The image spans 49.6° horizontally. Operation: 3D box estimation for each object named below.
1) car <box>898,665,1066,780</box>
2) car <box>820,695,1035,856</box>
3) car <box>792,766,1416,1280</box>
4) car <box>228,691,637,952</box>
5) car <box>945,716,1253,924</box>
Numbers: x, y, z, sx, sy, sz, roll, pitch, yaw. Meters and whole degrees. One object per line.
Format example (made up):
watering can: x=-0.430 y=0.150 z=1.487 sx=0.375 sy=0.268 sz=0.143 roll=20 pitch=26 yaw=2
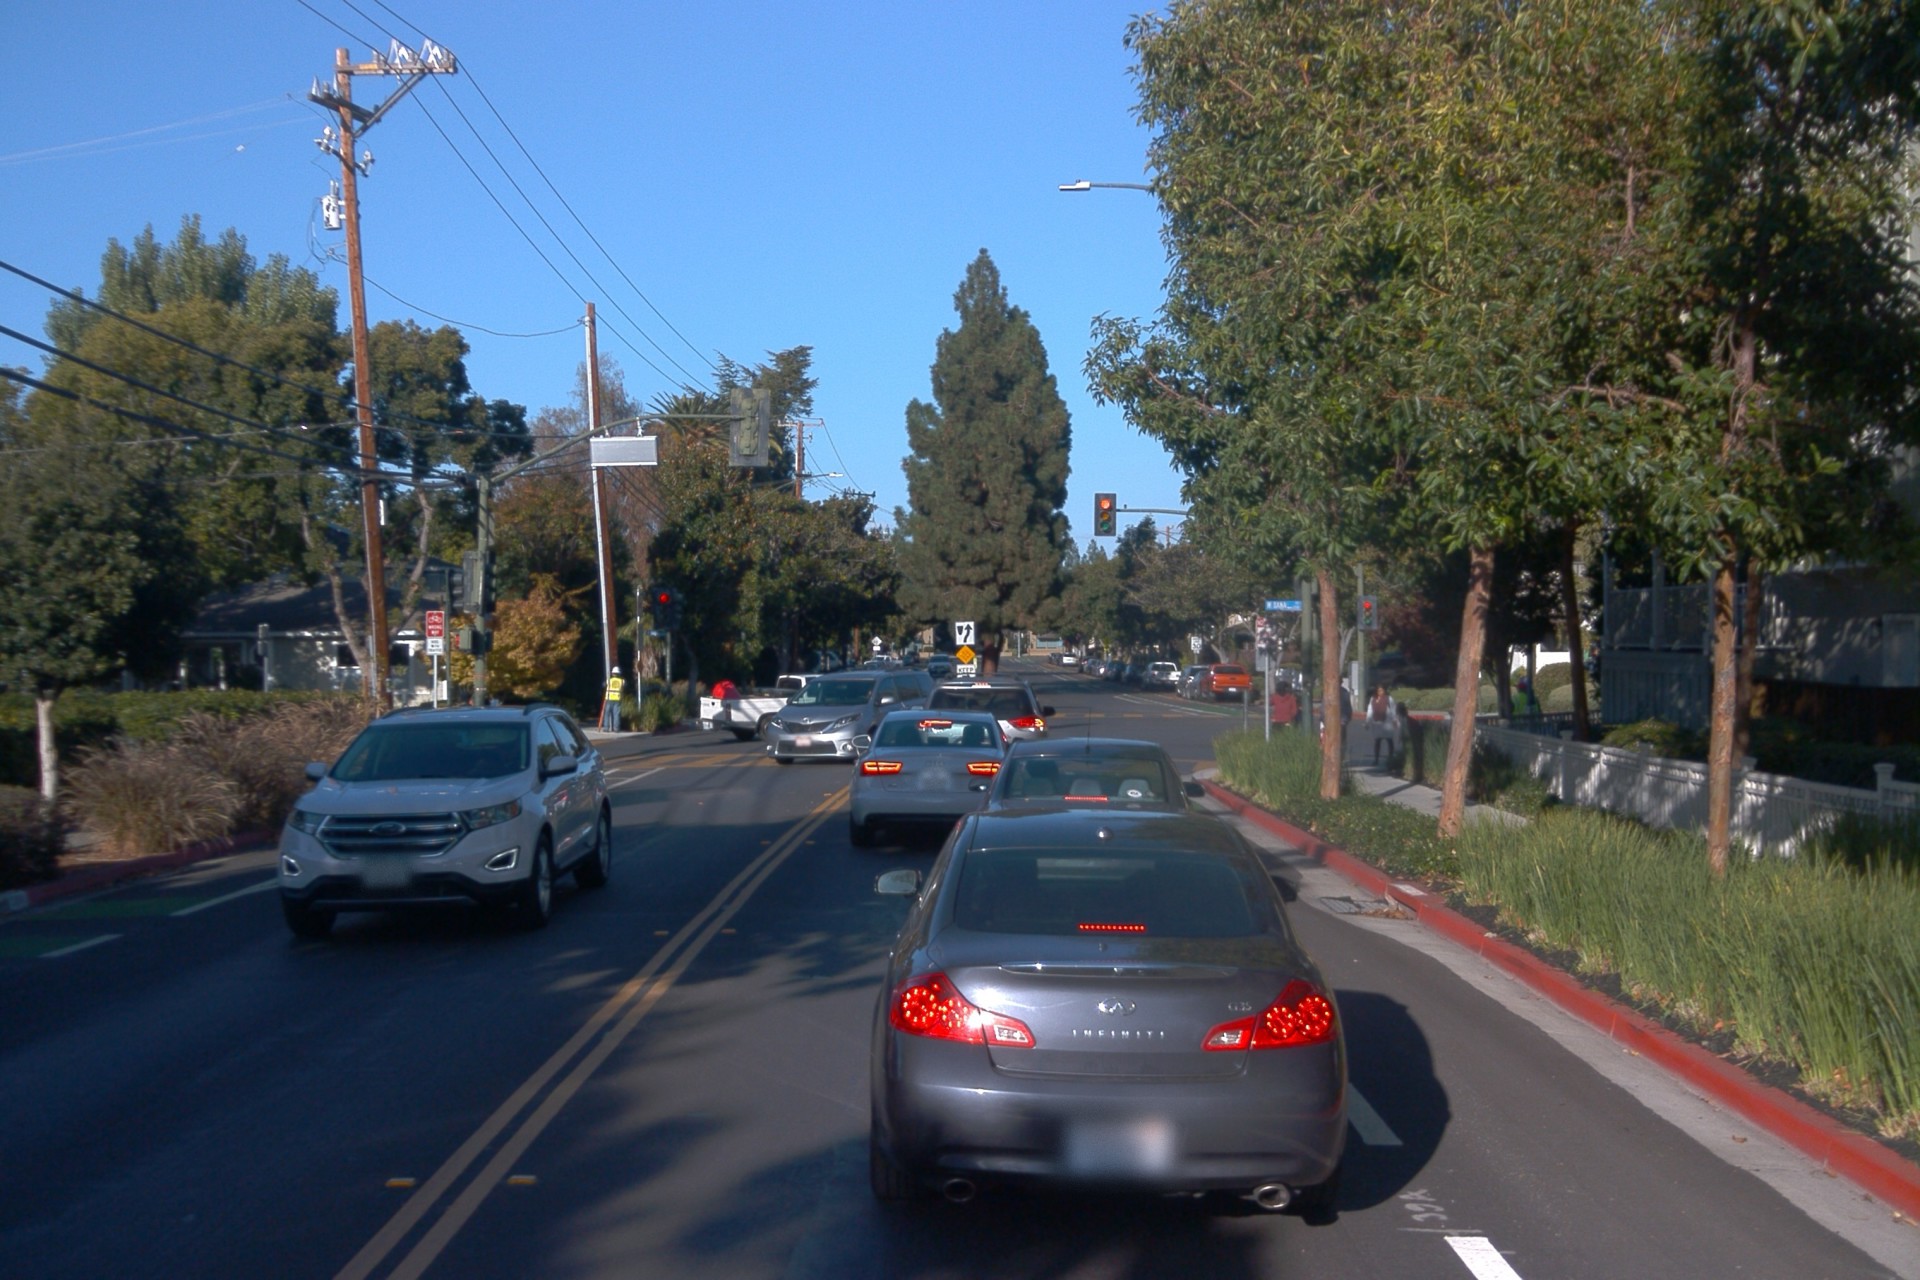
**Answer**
car: x=0.358 y=1.175 z=31.289 sx=2.317 sy=1.510 sz=4.744 roll=1 pitch=0 yaw=1
car: x=-0.260 y=1.447 z=23.532 sx=2.122 sy=1.500 sz=4.397 roll=1 pitch=0 yaw=3
car: x=0.567 y=1.428 z=9.064 sx=2.033 sy=1.460 sz=4.435 roll=1 pitch=0 yaw=3
car: x=-4.184 y=1.369 z=17.404 sx=2.214 sy=1.740 sz=4.805 roll=1 pitch=0 yaw=0
car: x=0.993 y=1.271 z=15.845 sx=2.028 sy=1.210 sz=4.035 roll=1 pitch=0 yaw=2
